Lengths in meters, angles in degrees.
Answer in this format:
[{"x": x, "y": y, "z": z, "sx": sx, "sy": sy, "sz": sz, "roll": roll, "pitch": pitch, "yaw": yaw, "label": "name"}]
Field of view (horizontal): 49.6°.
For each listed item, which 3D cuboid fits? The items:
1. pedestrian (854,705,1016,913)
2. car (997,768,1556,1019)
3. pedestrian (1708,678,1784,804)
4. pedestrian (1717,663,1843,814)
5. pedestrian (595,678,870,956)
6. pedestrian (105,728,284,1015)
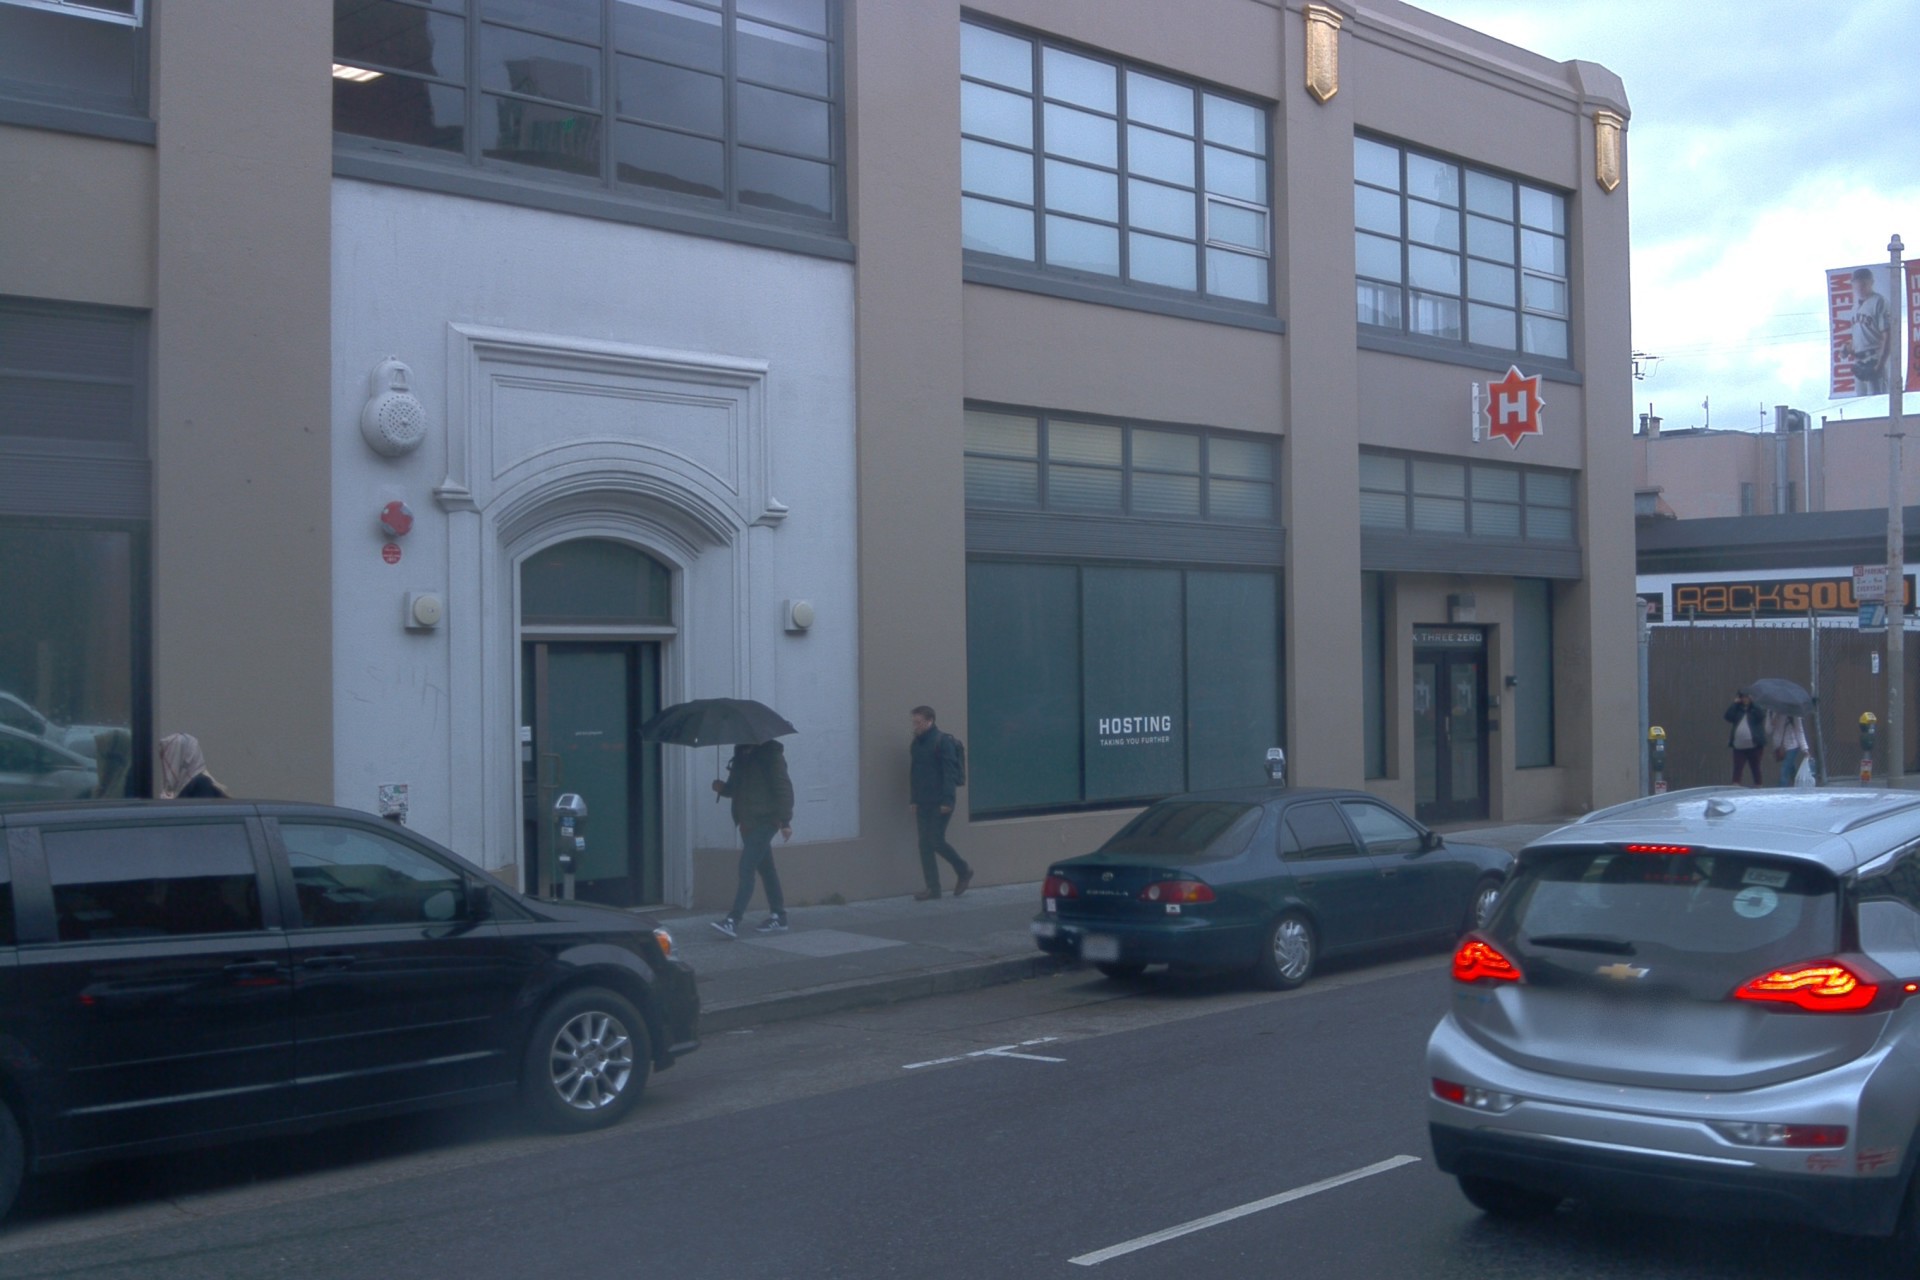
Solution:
[{"x": -0.218, "y": 1.450, "z": 18.238, "sx": 1.083, "sy": 1.708, "sz": 0.924, "roll": 0, "pitch": 0, "yaw": -45, "label": "pedestrian"}, {"x": 2.446, "y": 1.734, "z": 15.301, "sx": 4.350, "sy": 1.328, "sz": 1.799, "roll": 0, "pitch": 0, "yaw": -44, "label": "car"}, {"x": 10.965, "y": 1.391, "z": 29.009, "sx": 0.740, "sy": 1.700, "sz": 0.777, "roll": 0, "pitch": 0, "yaw": 45, "label": "pedestrian"}, {"x": 10.824, "y": 1.270, "z": 27.455, "sx": 1.190, "sy": 1.930, "sz": 1.097, "roll": 0, "pitch": 0, "yaw": -37, "label": "pedestrian"}, {"x": -1.748, "y": 1.288, "z": 15.962, "sx": 1.513, "sy": 1.950, "sz": 1.495, "roll": 0, "pitch": 0, "yaw": -42, "label": "pedestrian"}, {"x": -4.991, "y": 1.466, "z": 13.560, "sx": 0.852, "sy": 1.740, "sz": 0.841, "roll": 0, "pitch": 0, "yaw": -41, "label": "pedestrian"}]
